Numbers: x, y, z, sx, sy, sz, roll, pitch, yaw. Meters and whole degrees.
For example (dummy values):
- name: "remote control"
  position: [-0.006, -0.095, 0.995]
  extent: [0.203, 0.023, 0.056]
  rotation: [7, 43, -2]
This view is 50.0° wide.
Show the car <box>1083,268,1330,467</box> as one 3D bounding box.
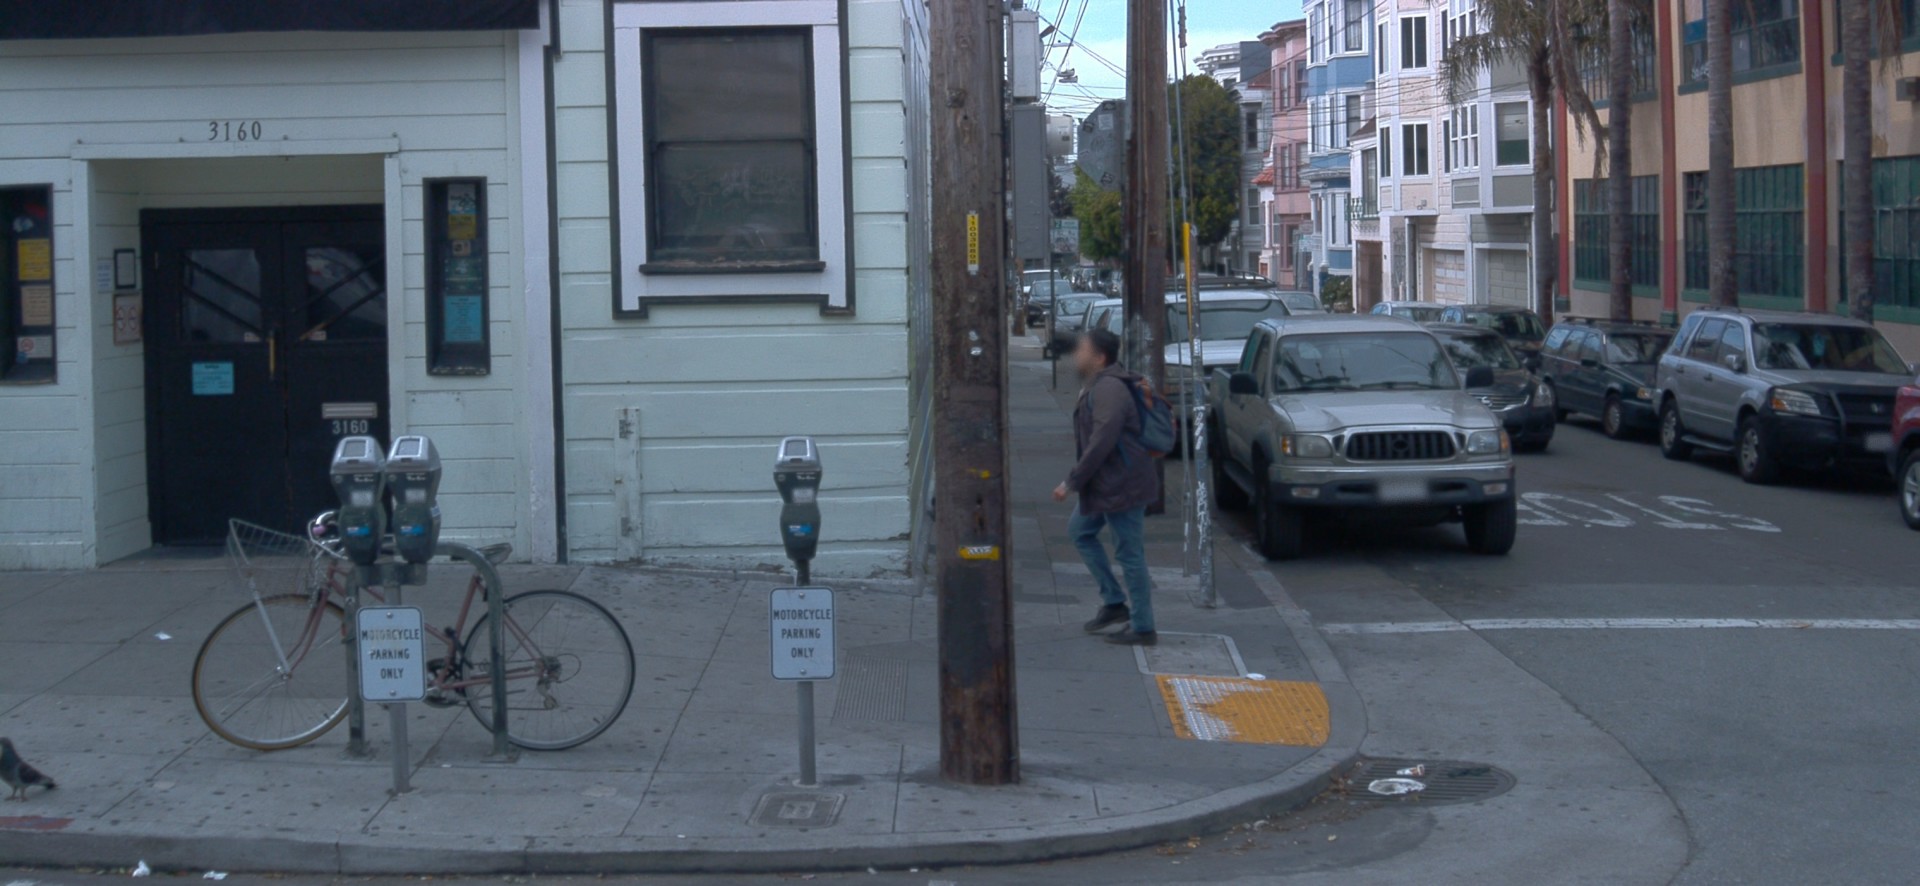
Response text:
- name: "car"
  position: [2.828, -1.061, 25.065]
  extent: [2.317, 2.001, 5.984]
  rotation: [0, 6, 0]

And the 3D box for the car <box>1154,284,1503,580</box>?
- name: "car"
  position: [2.800, -0.276, 16.868]
  extent: [2.071, 1.901, 5.185]
  rotation: [0, 5, 2]

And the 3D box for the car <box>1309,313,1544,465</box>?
- name: "car"
  position: [5.669, -0.754, 25.601]
  extent: [1.987, 1.513, 4.674]
  rotation: [0, 6, 2]

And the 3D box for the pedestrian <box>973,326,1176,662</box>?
- name: "pedestrian"
  position: [0.595, 0.240, 11.085]
  extent: [1.038, 1.697, 0.880]
  rotation: [0, 2, -1]

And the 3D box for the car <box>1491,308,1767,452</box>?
- name: "car"
  position: [8.778, -0.918, 27.454]
  extent: [2.061, 1.563, 4.668]
  rotation: [0, 6, -1]
